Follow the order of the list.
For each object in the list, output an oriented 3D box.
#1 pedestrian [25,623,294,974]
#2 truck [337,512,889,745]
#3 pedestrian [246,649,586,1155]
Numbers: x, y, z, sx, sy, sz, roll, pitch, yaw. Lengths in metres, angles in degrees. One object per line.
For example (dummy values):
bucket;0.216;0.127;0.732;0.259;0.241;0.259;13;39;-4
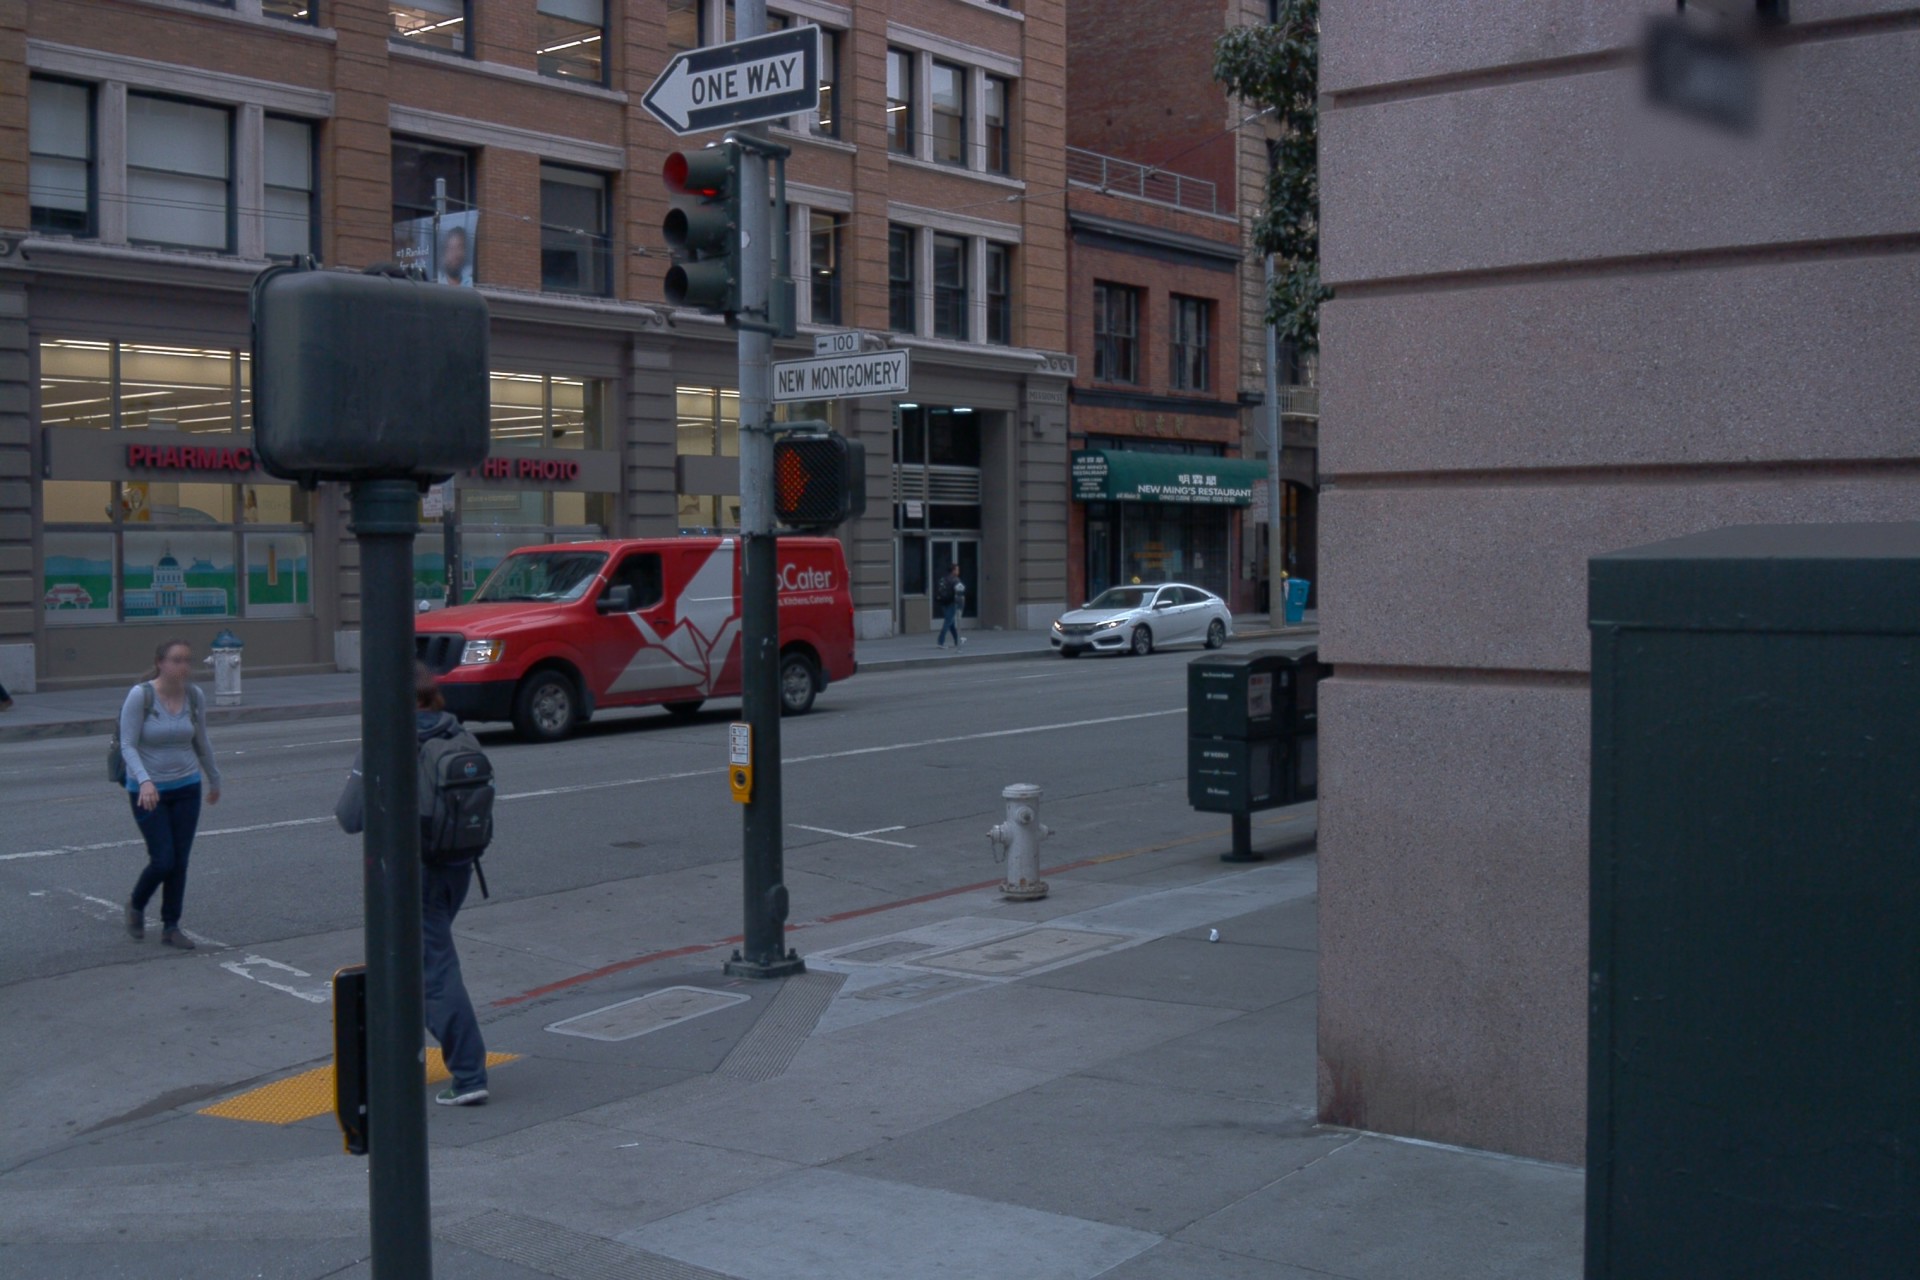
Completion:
pedestrian;-4.301;0.794;11.107;1.086;1.765;0.922;0;1;39
truck;-3.632;-0.144;22.978;2.356;2.240;6.072;0;1;38
pedestrian;-2.136;0.943;8.085;1.155;1.800;0.781;1;1;43
